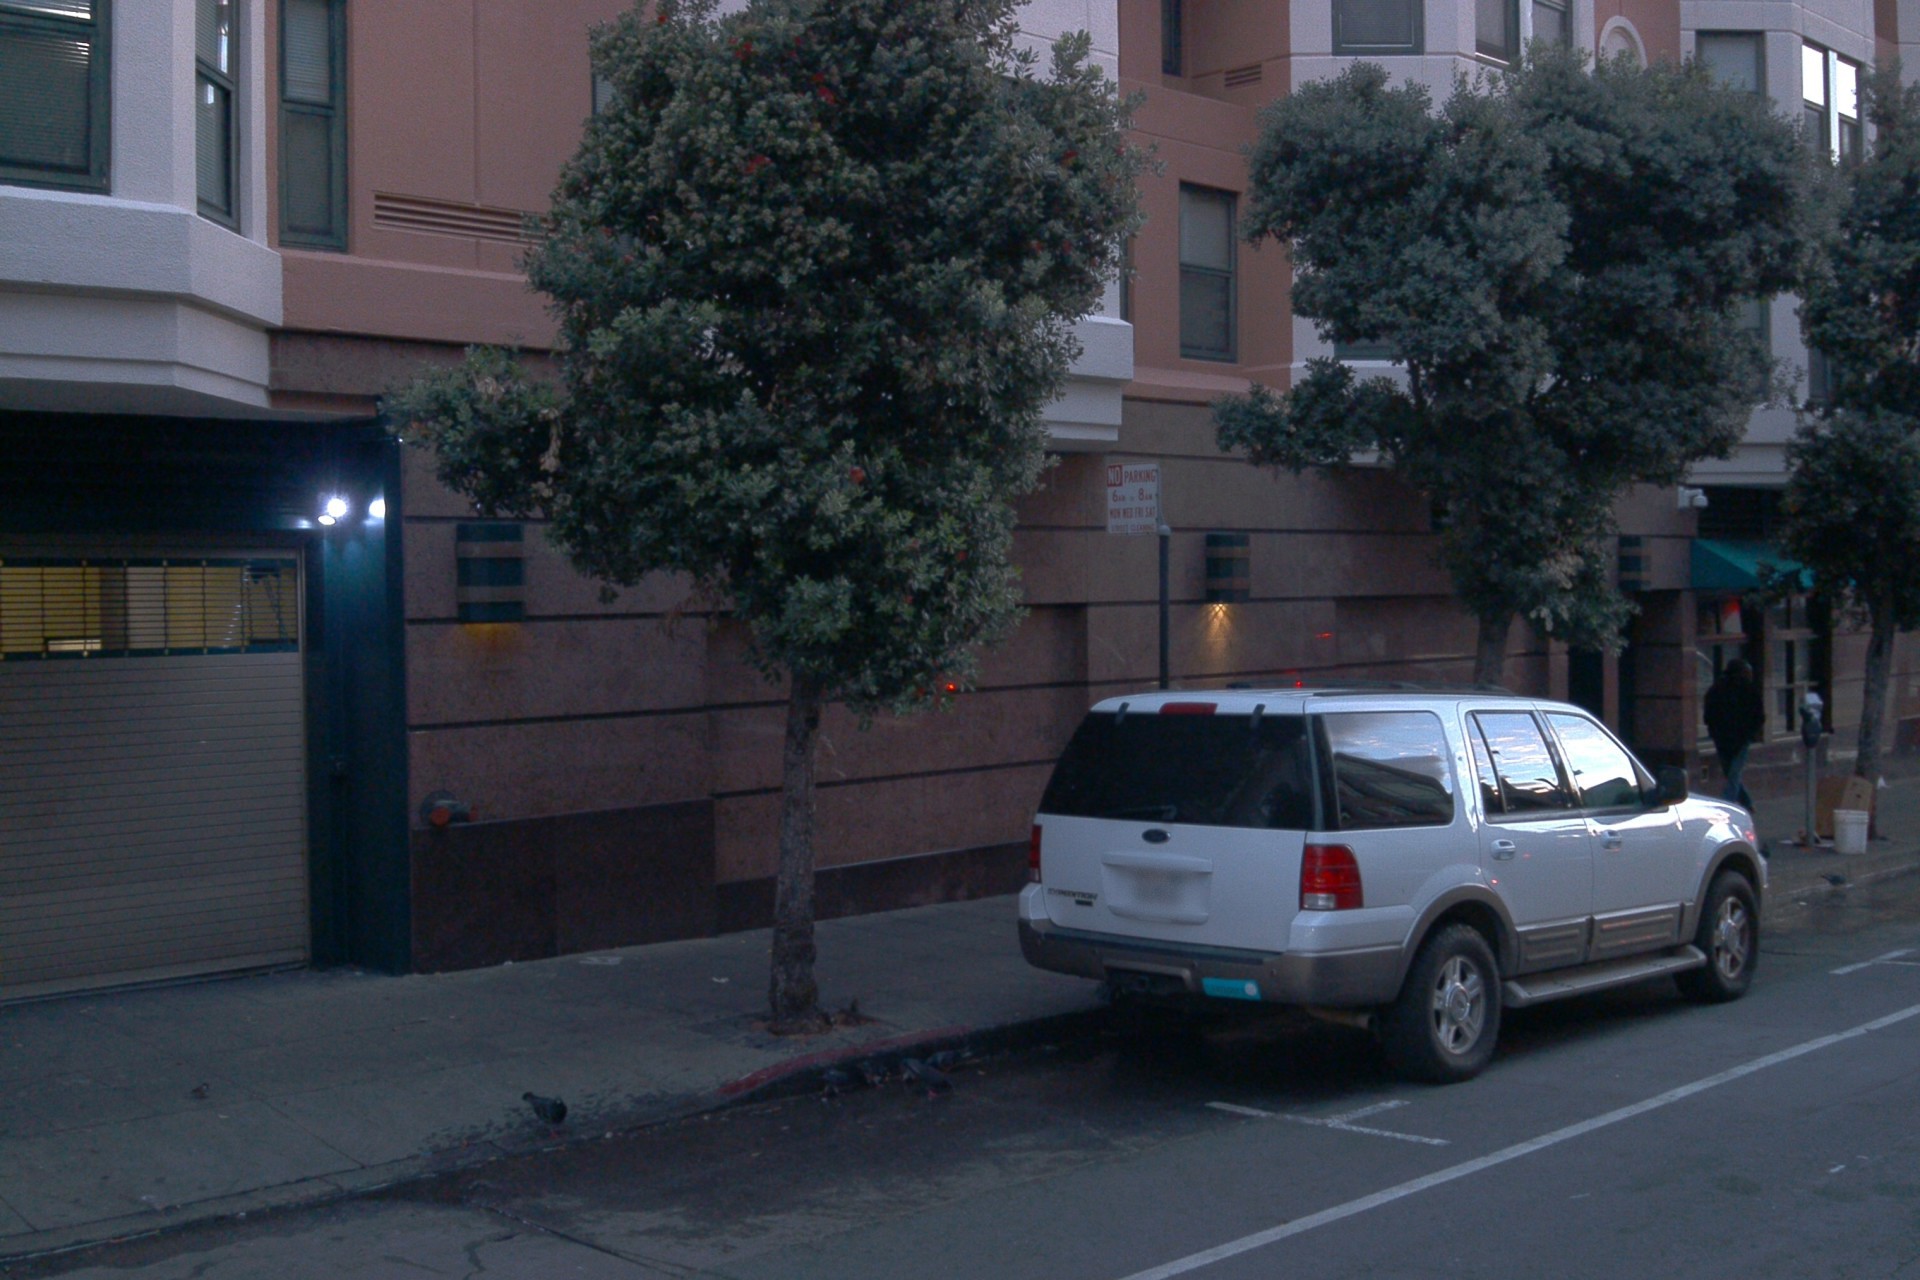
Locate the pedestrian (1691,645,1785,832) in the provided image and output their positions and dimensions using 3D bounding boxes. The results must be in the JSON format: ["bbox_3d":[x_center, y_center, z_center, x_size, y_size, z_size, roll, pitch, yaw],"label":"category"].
[{"bbox_3d":[8.047,0.994,21.205,0.828,1.860,1.059,0,1,17],"label":"pedestrian"}]

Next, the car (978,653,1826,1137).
[{"bbox_3d":[2.666,1.113,11.382,2.194,1.990,5.086,1,1,45],"label":"car"}]
